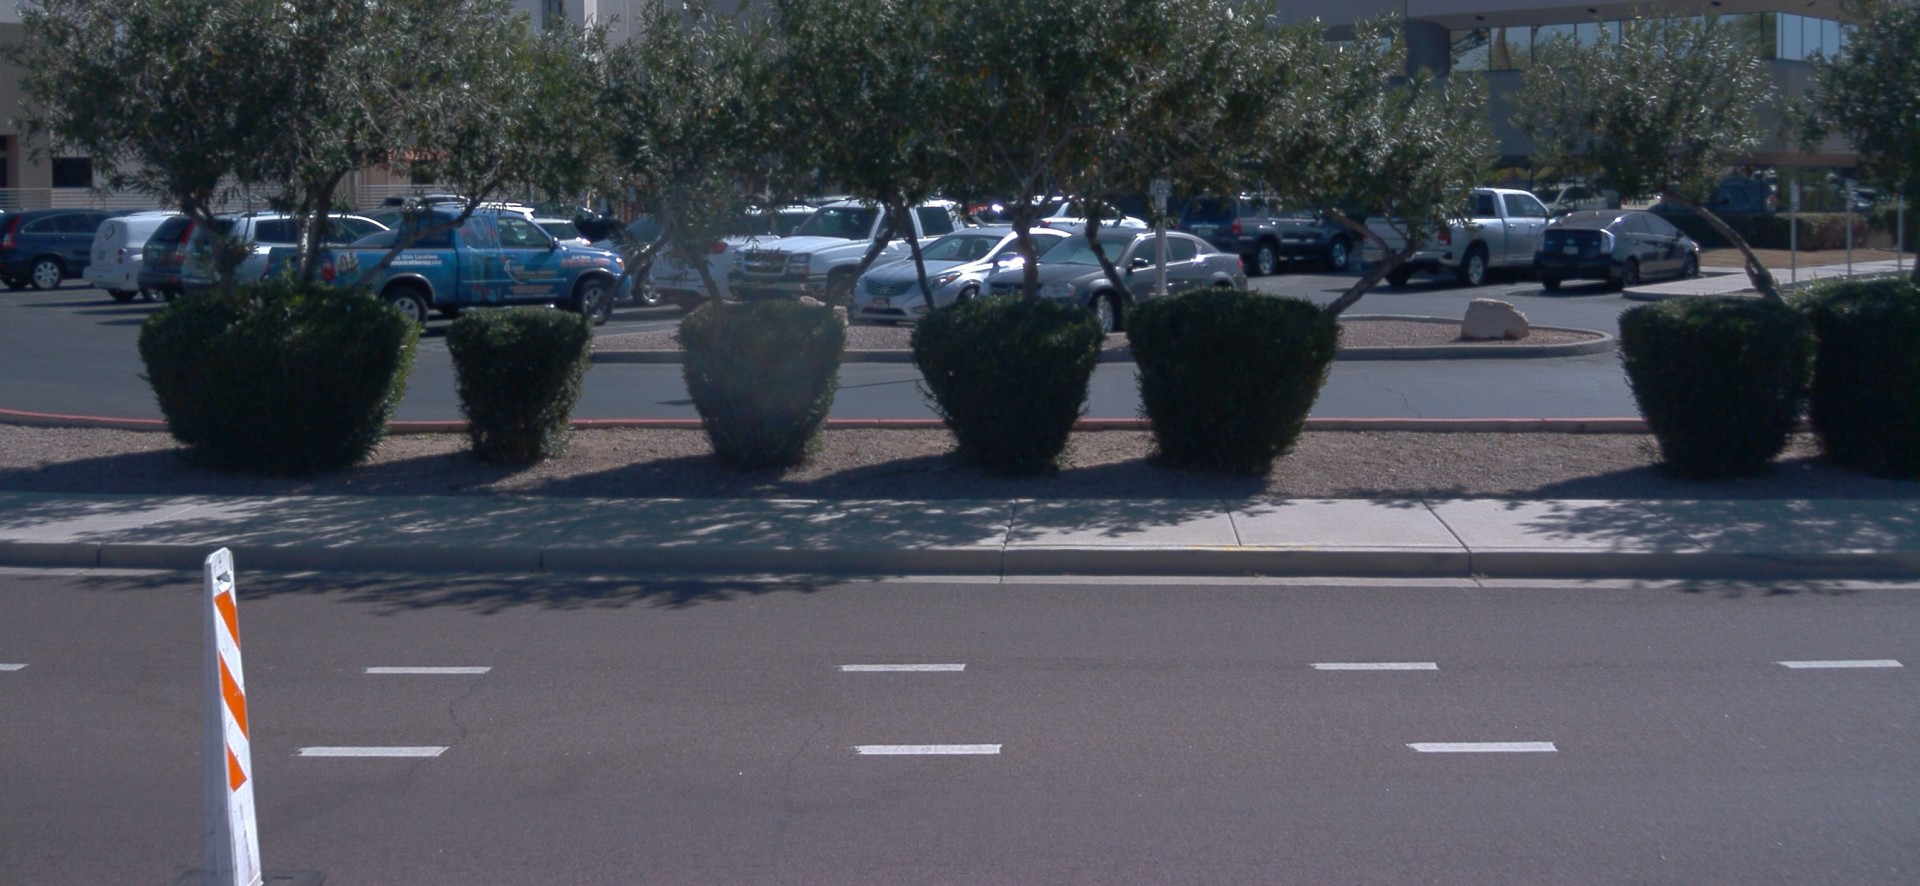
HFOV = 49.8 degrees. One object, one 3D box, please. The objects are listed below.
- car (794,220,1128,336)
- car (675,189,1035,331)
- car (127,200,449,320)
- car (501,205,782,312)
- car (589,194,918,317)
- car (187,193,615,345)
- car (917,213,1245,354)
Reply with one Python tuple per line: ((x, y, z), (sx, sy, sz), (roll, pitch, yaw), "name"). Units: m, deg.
((0.104, -2.523, 31.005), (2.215, 1.595, 5.015), (3, 6, 42), "car")
((-1.584, -2.993, 33.443), (2.345, 2.084, 5.792), (3, 6, 44), "car")
((-11.288, -3.120, 34.979), (4.735, 1.895, 2.089), (-5, 5, -43), "car")
((-5.626, -3.313, 36.883), (4.531, 1.785, 2.182), (-5, 6, -44), "car")
((-3.427, -3.218, 35.240), (5.398, 1.925, 2.170), (-5, 6, -44), "car")
((-8.065, -2.601, 30.373), (2.167, 2.015, 5.788), (3, 6, 44), "car")
((1.763, -2.277, 28.797), (2.030, 1.795, 4.716), (3, 6, 43), "car")
